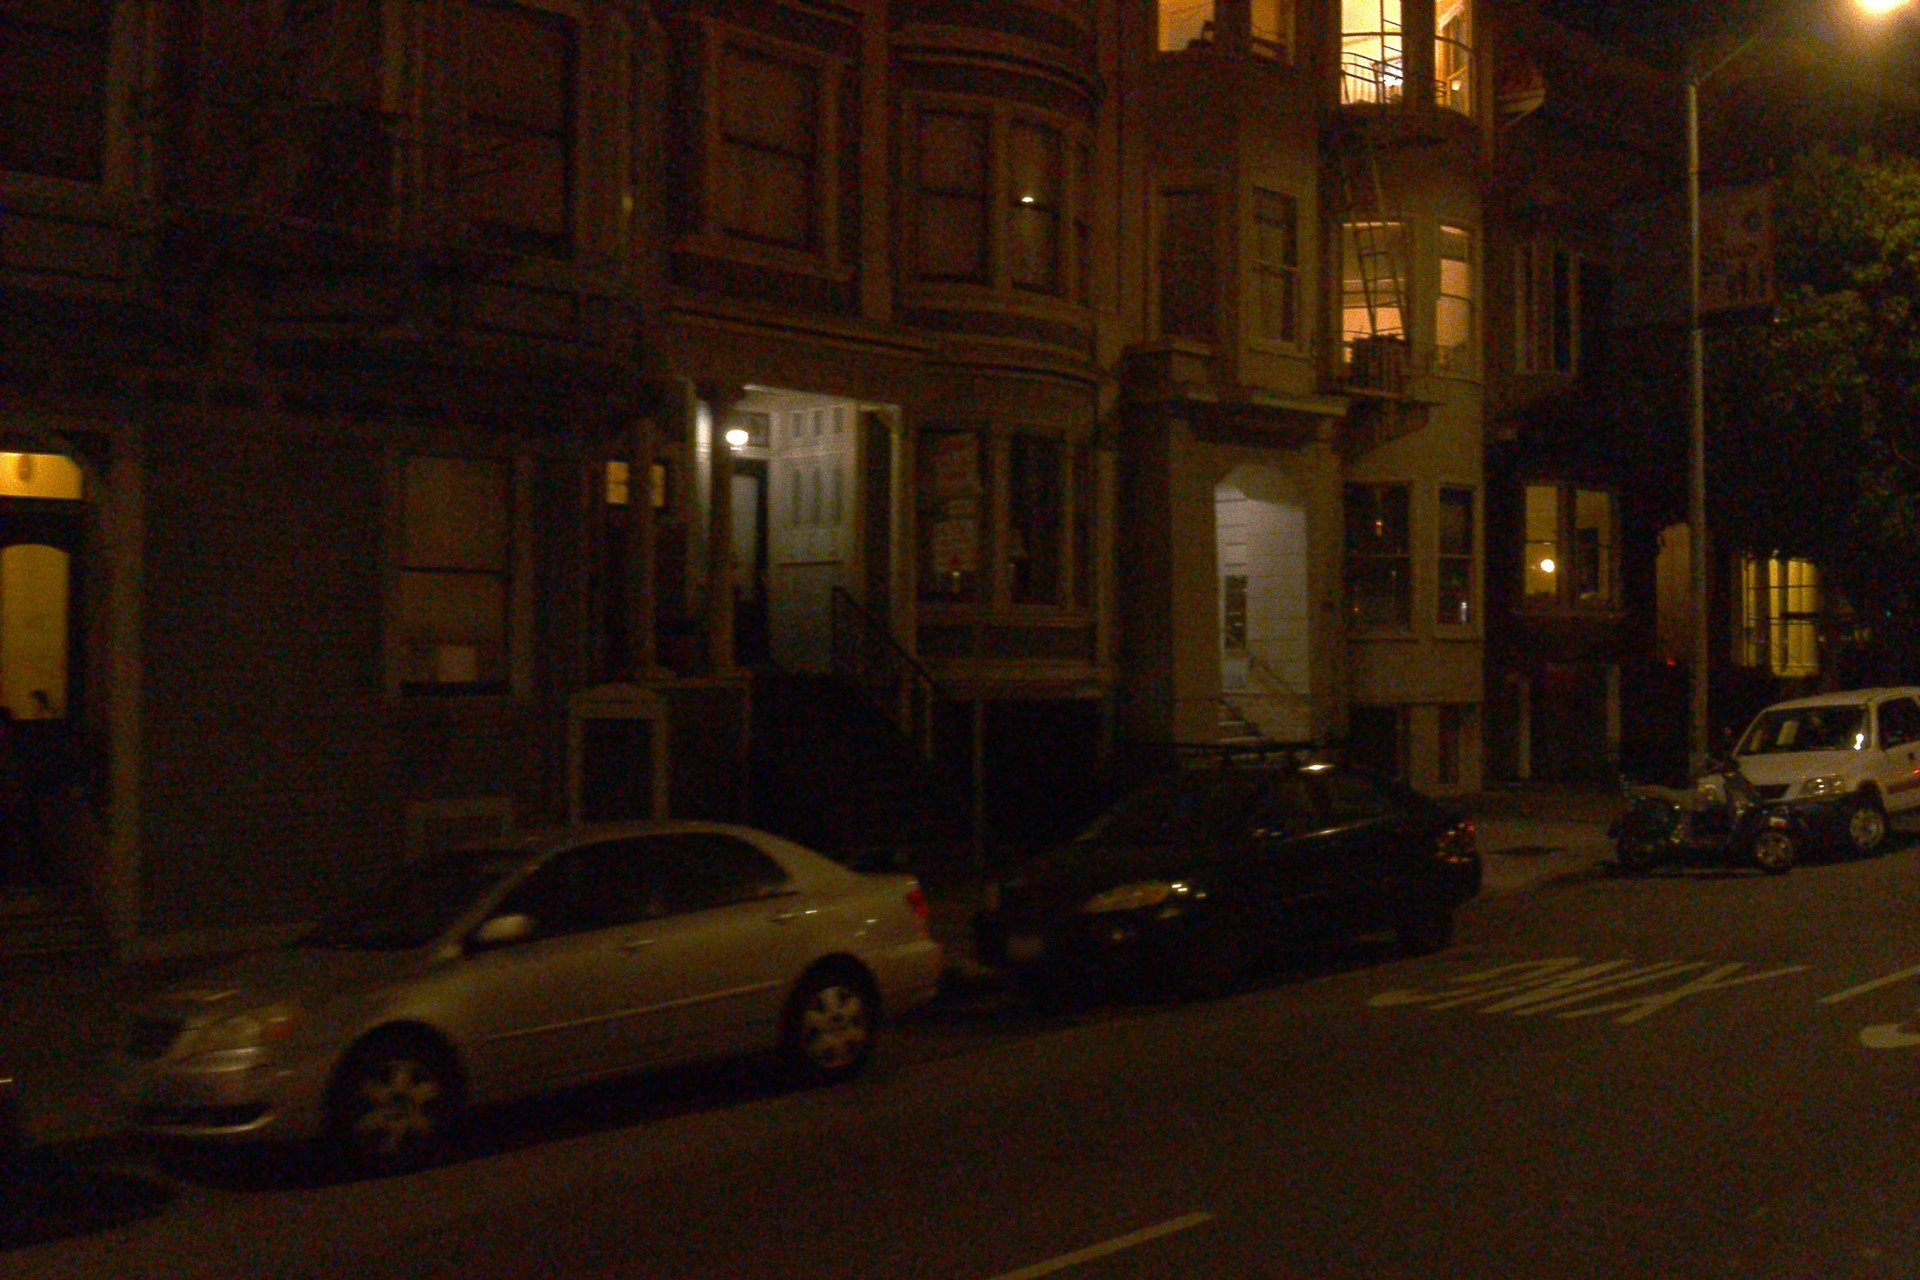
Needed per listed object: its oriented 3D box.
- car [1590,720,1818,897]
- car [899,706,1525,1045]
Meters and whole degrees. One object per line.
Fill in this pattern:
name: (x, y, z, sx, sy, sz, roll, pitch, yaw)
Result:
car: (7.254, 1.609, 20.077, 1.917, 1.530, 0.792, 2, 1, 44)
car: (1.928, 1.480, 14.575, 2.020, 1.810, 4.579, 2, 1, 44)
